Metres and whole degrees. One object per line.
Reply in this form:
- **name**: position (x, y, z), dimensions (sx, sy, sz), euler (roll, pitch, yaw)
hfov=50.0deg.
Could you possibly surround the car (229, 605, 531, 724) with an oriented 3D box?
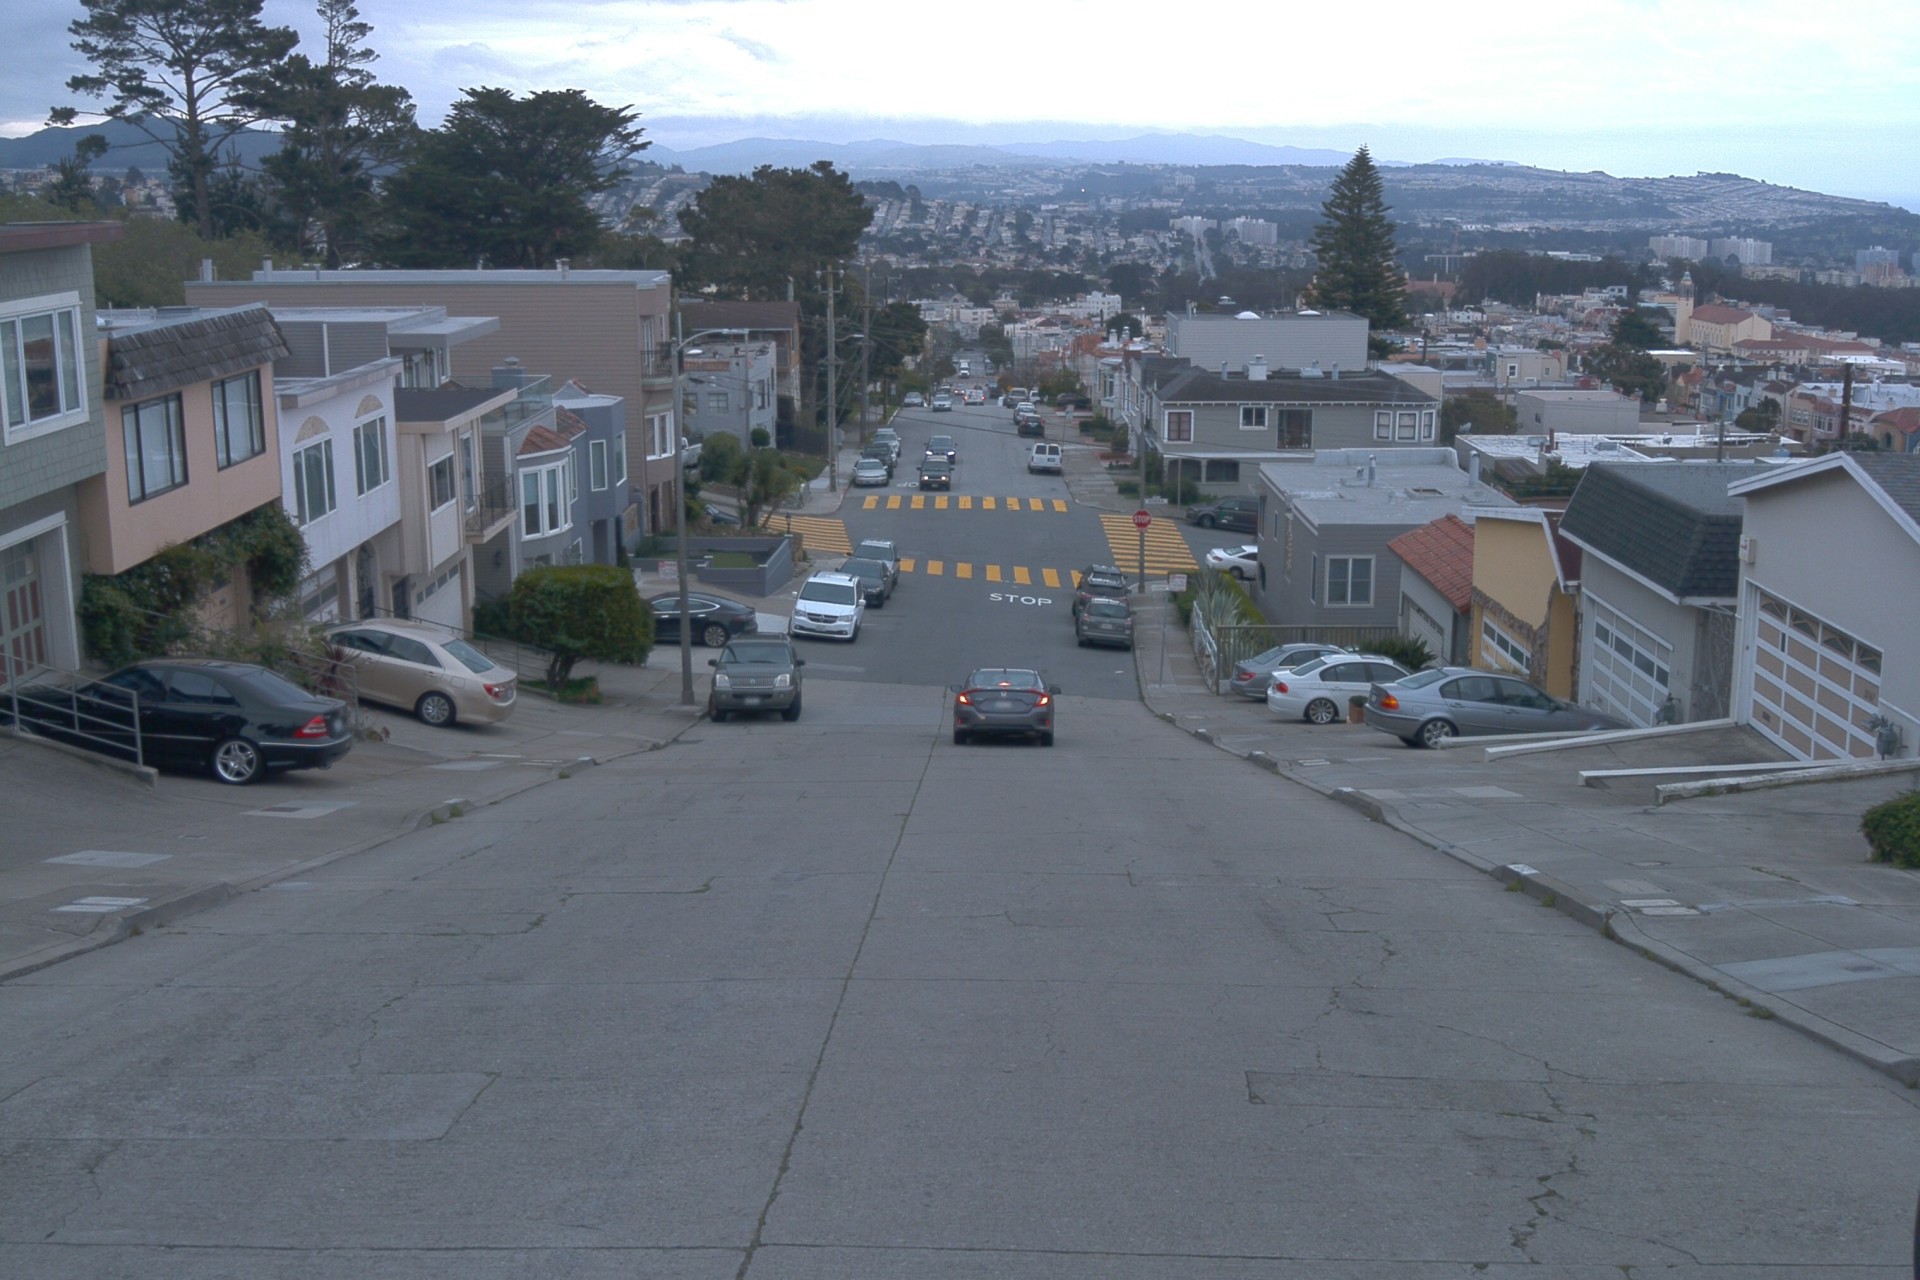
- **car**: position (-10.154, 0.418, 36.328), dimensions (4.667, 2.040, 2.134), euler (0, 0, 4)

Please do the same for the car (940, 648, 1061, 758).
- **car**: position (0.799, 1.092, 37.795), dimensions (2.099, 1.880, 4.242), euler (0, 0, 2)

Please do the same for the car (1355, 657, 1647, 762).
- **car**: position (8.968, 1.134, 34.389), dimensions (4.381, 1.700, 1.894), euler (0, 0, -1)
